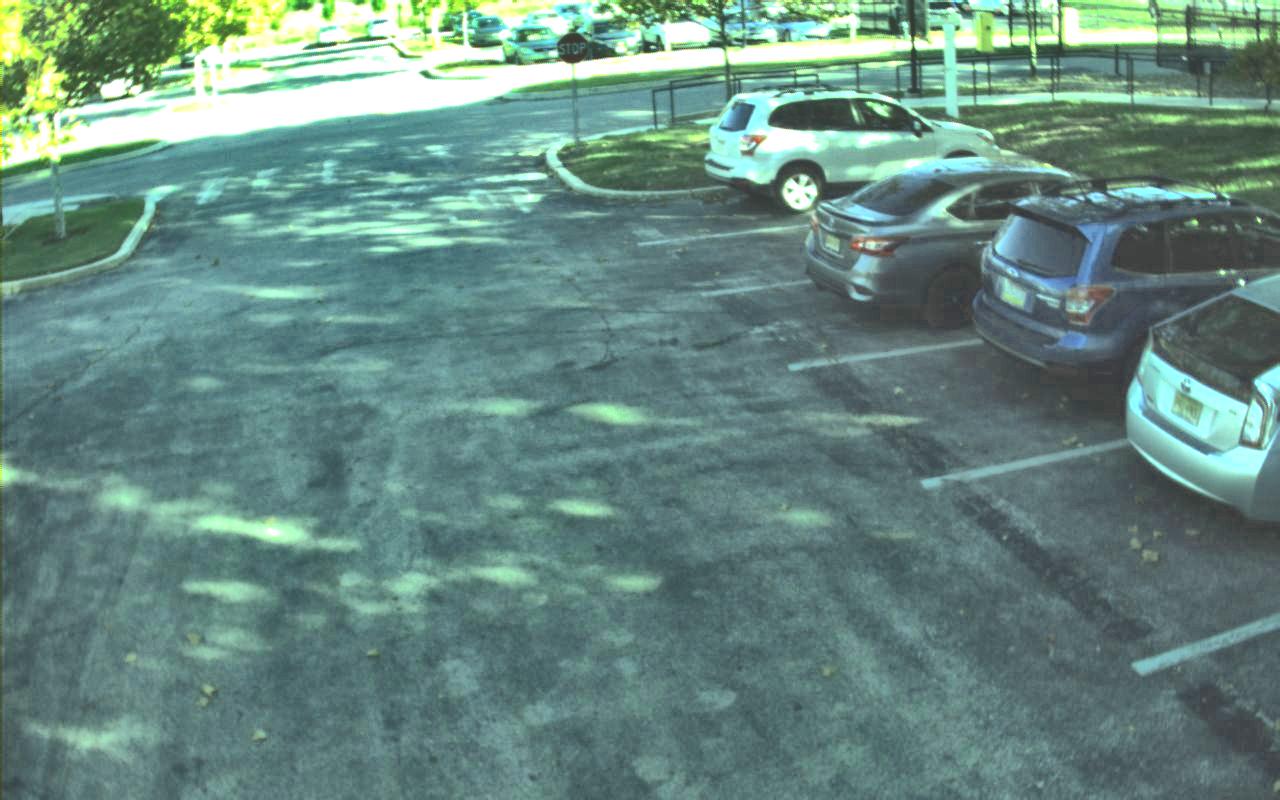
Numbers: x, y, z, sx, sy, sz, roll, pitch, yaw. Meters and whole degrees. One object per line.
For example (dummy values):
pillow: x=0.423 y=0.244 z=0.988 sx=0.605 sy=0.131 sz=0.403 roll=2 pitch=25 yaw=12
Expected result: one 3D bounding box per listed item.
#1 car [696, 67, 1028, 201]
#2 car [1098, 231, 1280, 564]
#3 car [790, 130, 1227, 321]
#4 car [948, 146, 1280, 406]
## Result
car: x=3.335 y=-4.051 z=18.332 sx=4.616 sy=1.757 sz=1.992 roll=-6 pitch=17 yaw=-15
car: x=5.570 y=-0.224 z=7.888 sx=4.349 sy=1.596 sz=1.918 roll=-5 pitch=17 yaw=-14
car: x=3.968 y=-1.967 z=12.745 sx=4.468 sy=1.581 sz=1.931 roll=-6 pitch=17 yaw=-16
car: x=5.037 y=-1.242 z=10.187 sx=4.400 sy=1.728 sz=1.957 roll=-5 pitch=17 yaw=-14
